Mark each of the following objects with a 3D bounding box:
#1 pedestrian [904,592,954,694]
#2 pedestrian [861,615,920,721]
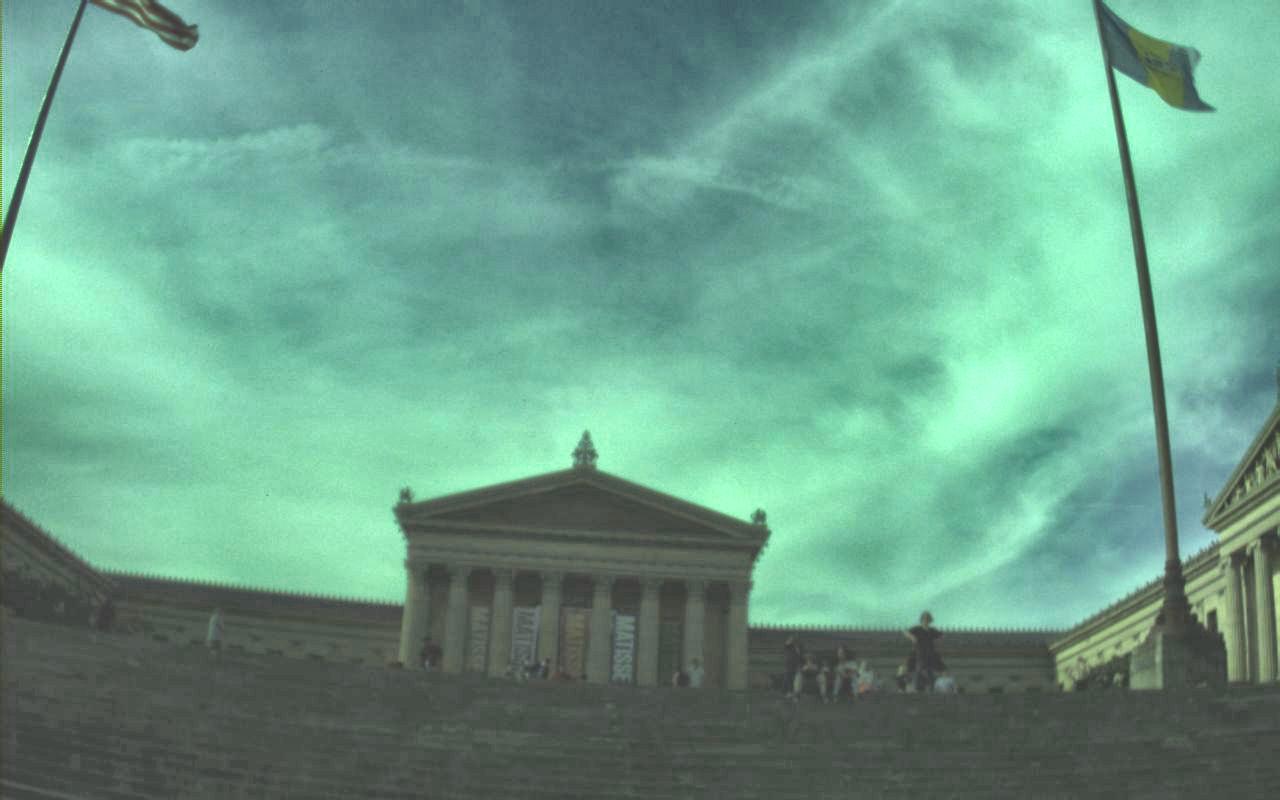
[{"bbox_3d":[5.472,4.623,22.985,0.757,1.820,0.739,1,0,21],"label":"pedestrian"},{"bbox_3d":[4.736,5.092,23.035,0.730,1.846,0.754,0,0,-38],"label":"pedestrian"}]
